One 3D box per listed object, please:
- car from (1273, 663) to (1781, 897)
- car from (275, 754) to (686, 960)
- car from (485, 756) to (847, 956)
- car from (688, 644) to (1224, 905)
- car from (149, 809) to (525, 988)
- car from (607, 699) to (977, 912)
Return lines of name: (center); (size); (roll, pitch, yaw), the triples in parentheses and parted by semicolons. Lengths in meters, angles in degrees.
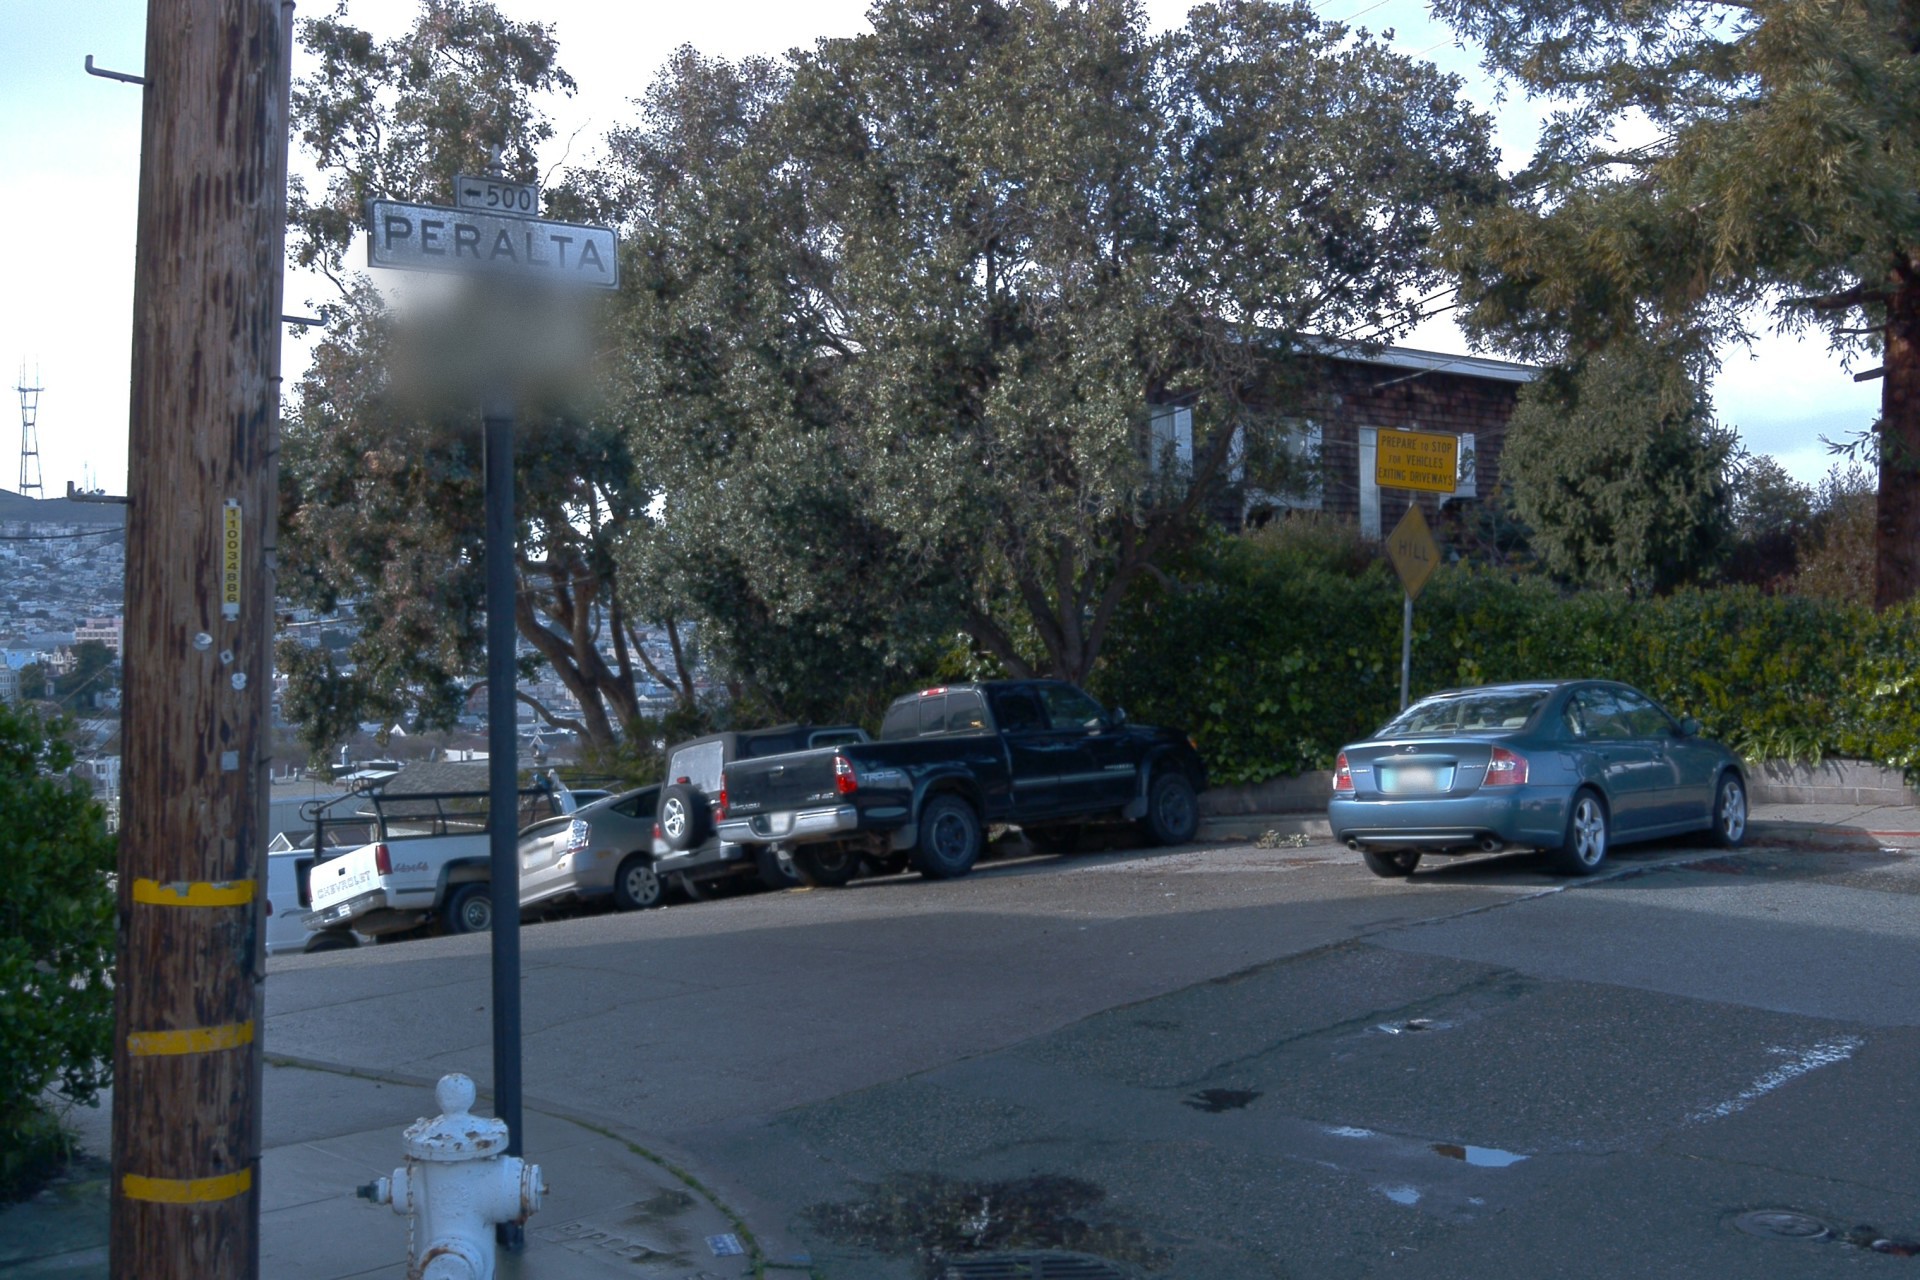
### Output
car: (4.512, 0.956, 15.911); (1.903, 1.450, 4.521); (1, 1, 43)
car: (-5.798, 2.540, 25.152); (4.328, 1.990, 2.275); (0, 1, -44)
car: (-3.357, 2.411, 23.880); (3.842, 1.880, 1.735); (0, 1, -43)
car: (0.114, 1.160, 20.386); (2.073, 2.190, 5.451); (1, 1, 44)
car: (-8.425, 3.427, 28.014); (4.366, 1.810, 2.217); (0, 1, -44)
car: (-1.797, 1.731, 22.738); (3.837, 2.000, 1.720); (0, 1, -43)
